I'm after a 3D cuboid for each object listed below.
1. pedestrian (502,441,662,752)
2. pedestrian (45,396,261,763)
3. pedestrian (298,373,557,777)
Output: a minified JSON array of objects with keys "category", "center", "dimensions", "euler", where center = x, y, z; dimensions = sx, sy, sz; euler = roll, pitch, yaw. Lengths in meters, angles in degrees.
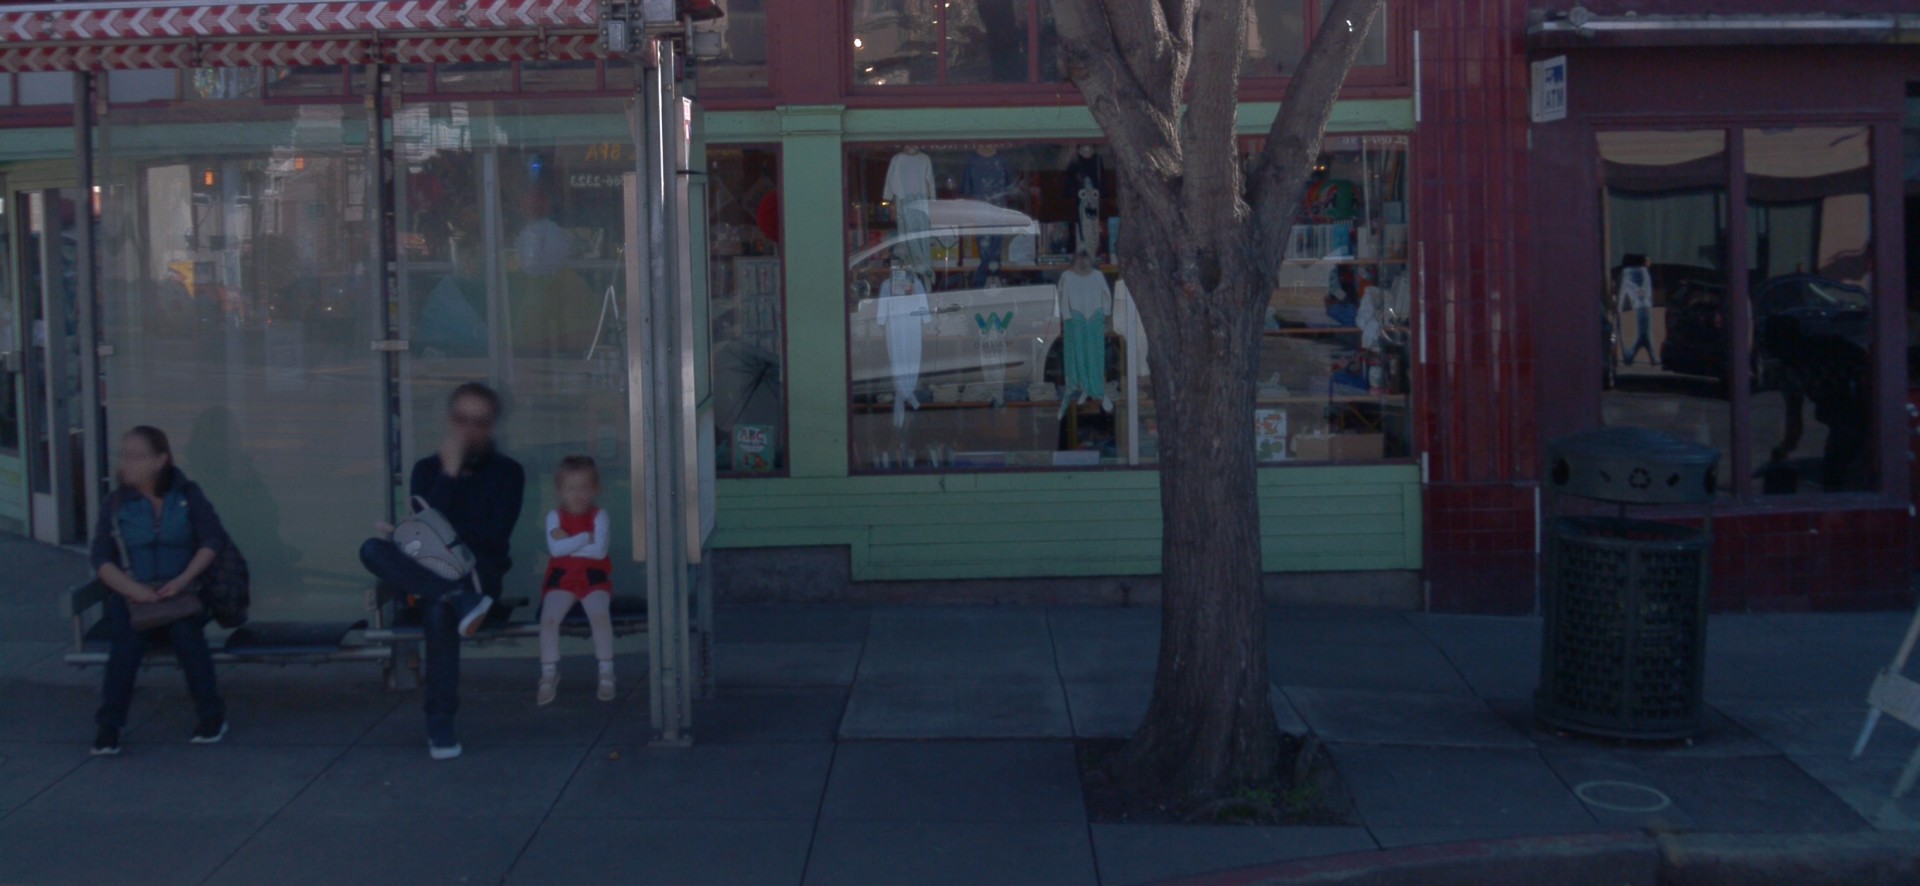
[{"category":"pedestrian","center":[-1.460,0.577,8.046],"dimensions":[0.528,1.098,0.572],"euler":[0,2,-3]},{"category":"pedestrian","center":[-3.127,0.489,8.059],"dimensions":[0.737,1.258,0.794],"euler":[-1,2,-19]},{"category":"pedestrian","center":[-2.033,0.467,7.999],"dimensions":[0.753,1.398,0.926],"euler":[0,2,0]}]
